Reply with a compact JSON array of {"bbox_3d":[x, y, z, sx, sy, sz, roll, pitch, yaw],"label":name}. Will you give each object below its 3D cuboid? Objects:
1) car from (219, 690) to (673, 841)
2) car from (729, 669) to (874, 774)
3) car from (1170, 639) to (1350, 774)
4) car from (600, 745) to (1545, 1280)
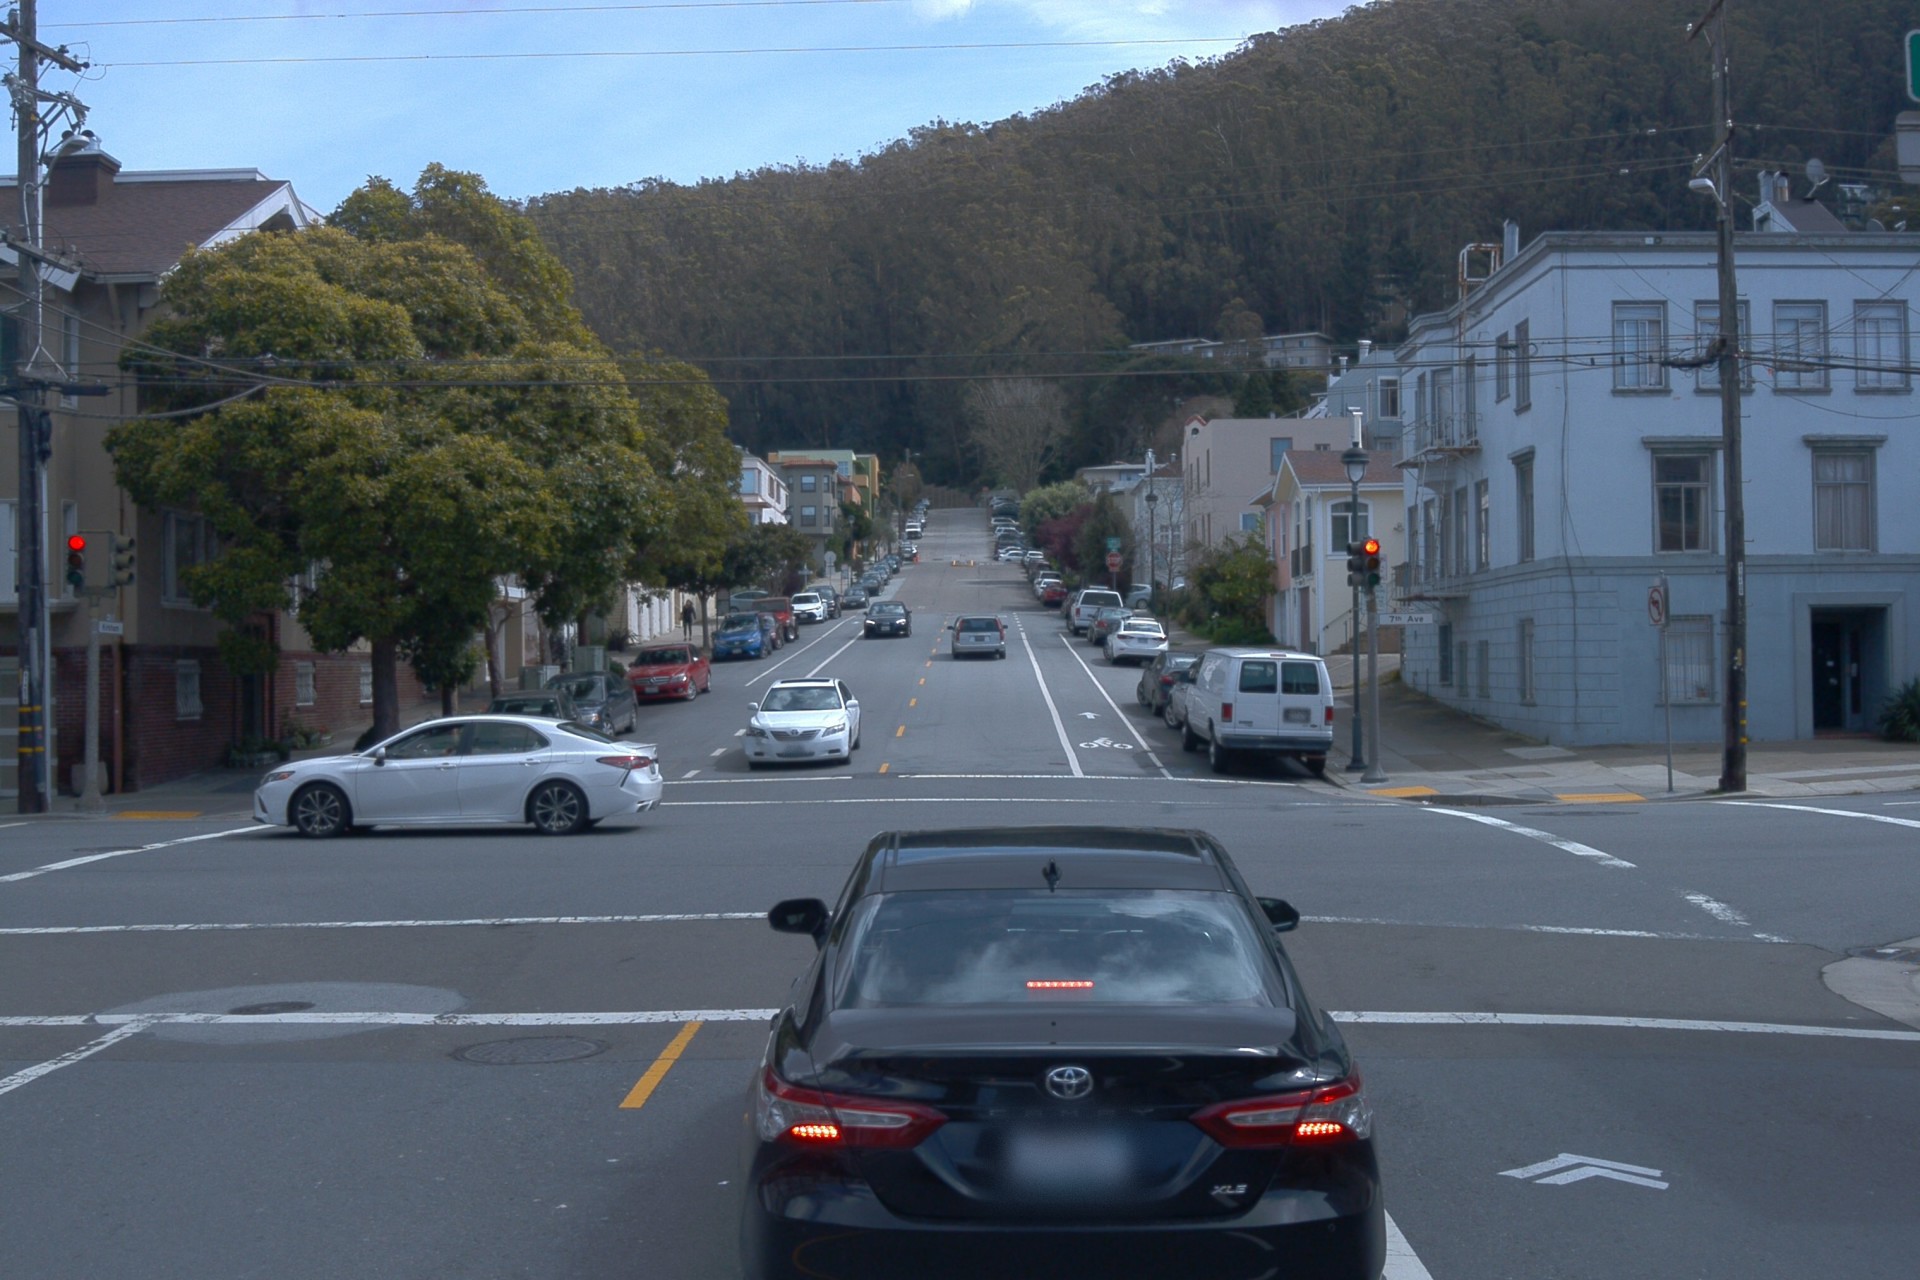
[{"bbox_3d":[-6.104,1.478,24.927,4.938,1.690,2.136,0,0,0],"label":"car"},{"bbox_3d":[-2.837,1.447,37.930,2.209,1.750,4.541,0,0,1],"label":"car"},{"bbox_3d":[5.313,1.117,37.231,2.299,2.250,5.313,0,0,-2],"label":"car"},{"bbox_3d":[0.282,1.304,7.305,2.249,1.620,4.798,0,0,0],"label":"car"}]
